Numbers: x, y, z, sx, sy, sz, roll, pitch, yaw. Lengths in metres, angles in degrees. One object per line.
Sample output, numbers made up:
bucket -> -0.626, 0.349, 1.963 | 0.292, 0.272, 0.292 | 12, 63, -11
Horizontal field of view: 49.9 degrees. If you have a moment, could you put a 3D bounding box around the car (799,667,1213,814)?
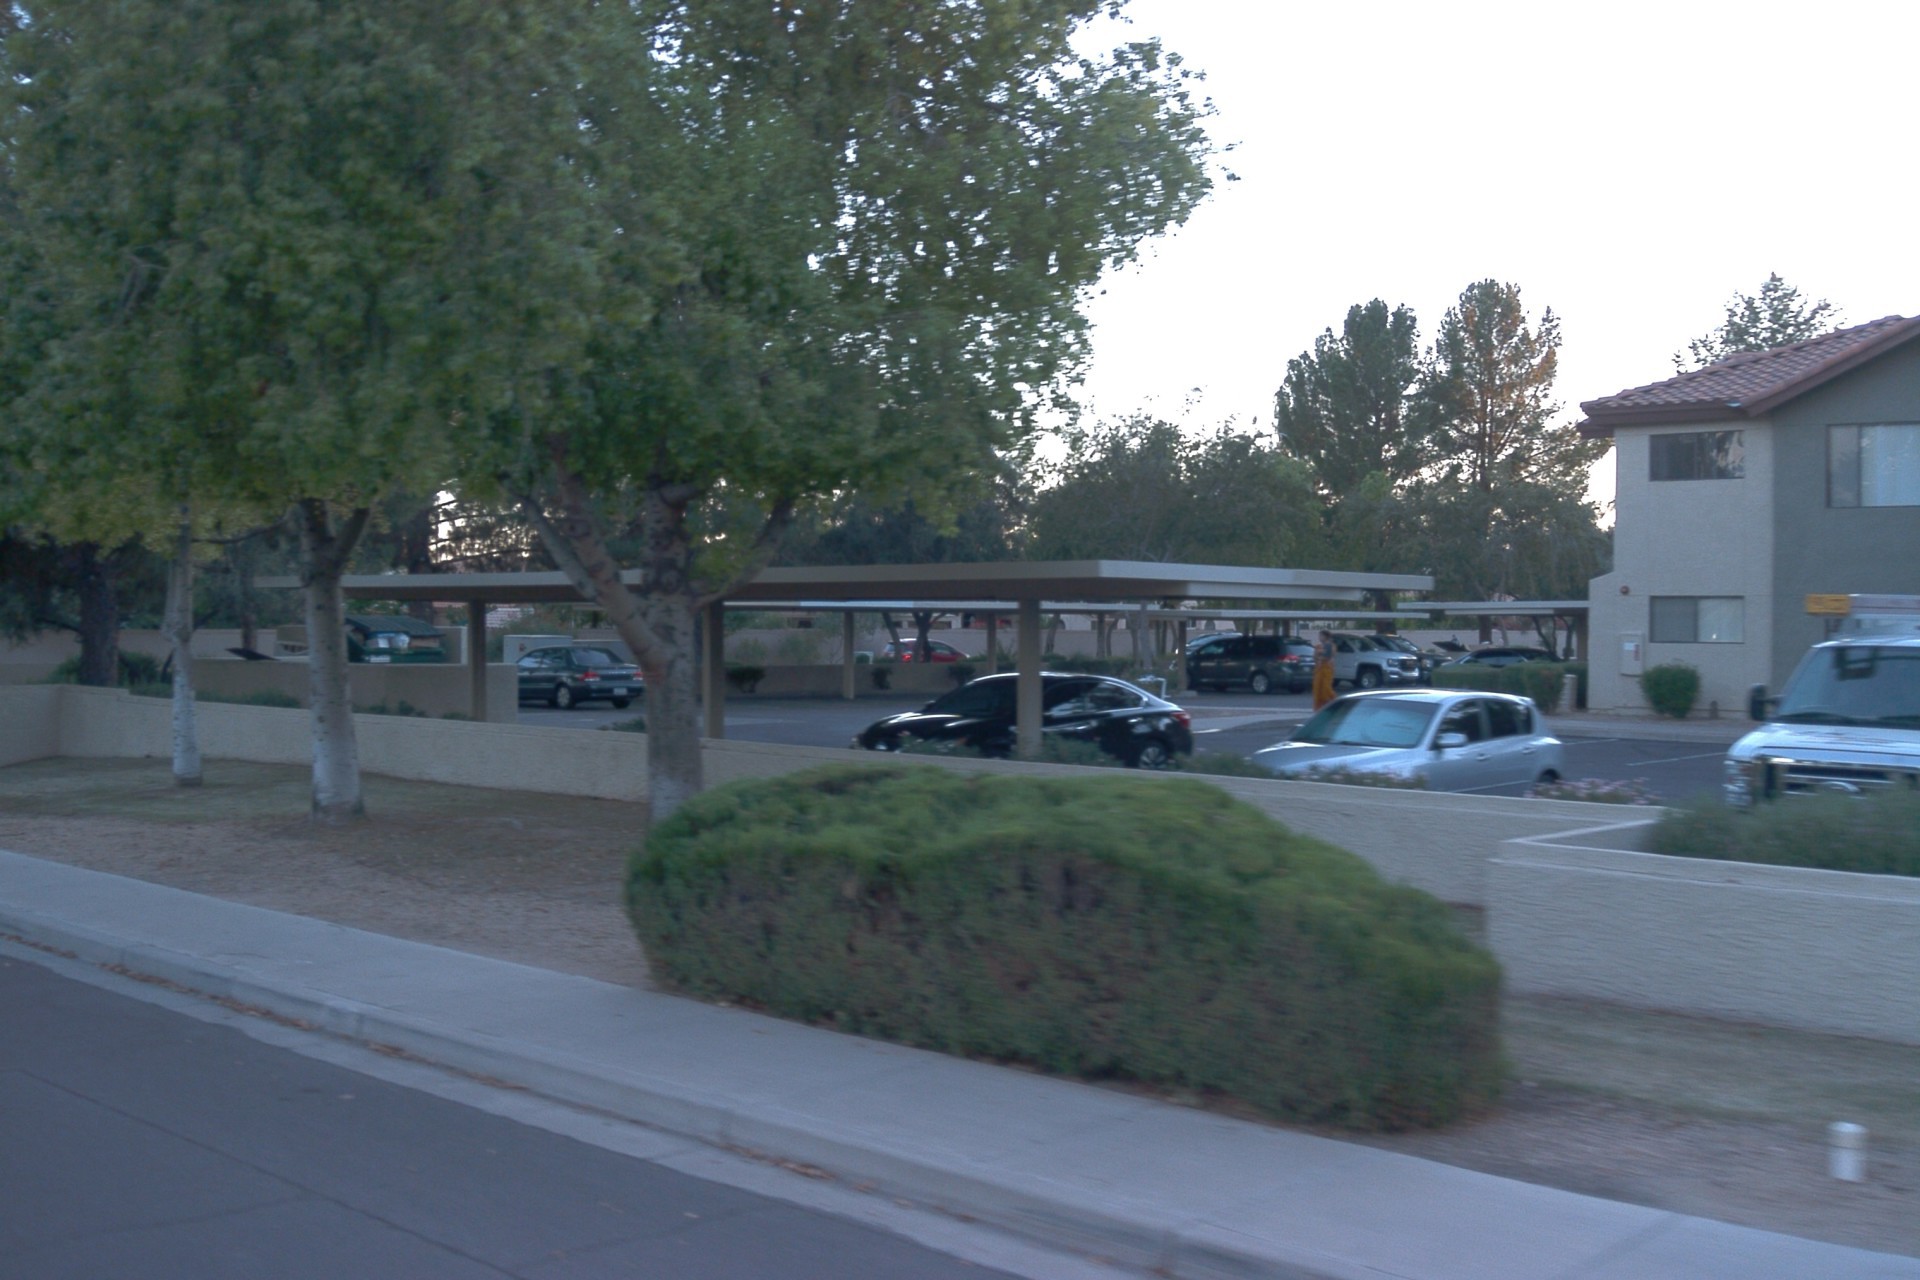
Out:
car -> 0.637, 1.105, 24.323 | 2.115, 1.529, 4.818 | 1, 0, 45

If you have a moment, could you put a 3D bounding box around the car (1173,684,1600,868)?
car -> 4.203, 1.211, 19.946 | 1.971, 1.520, 4.331 | 1, 0, 45
